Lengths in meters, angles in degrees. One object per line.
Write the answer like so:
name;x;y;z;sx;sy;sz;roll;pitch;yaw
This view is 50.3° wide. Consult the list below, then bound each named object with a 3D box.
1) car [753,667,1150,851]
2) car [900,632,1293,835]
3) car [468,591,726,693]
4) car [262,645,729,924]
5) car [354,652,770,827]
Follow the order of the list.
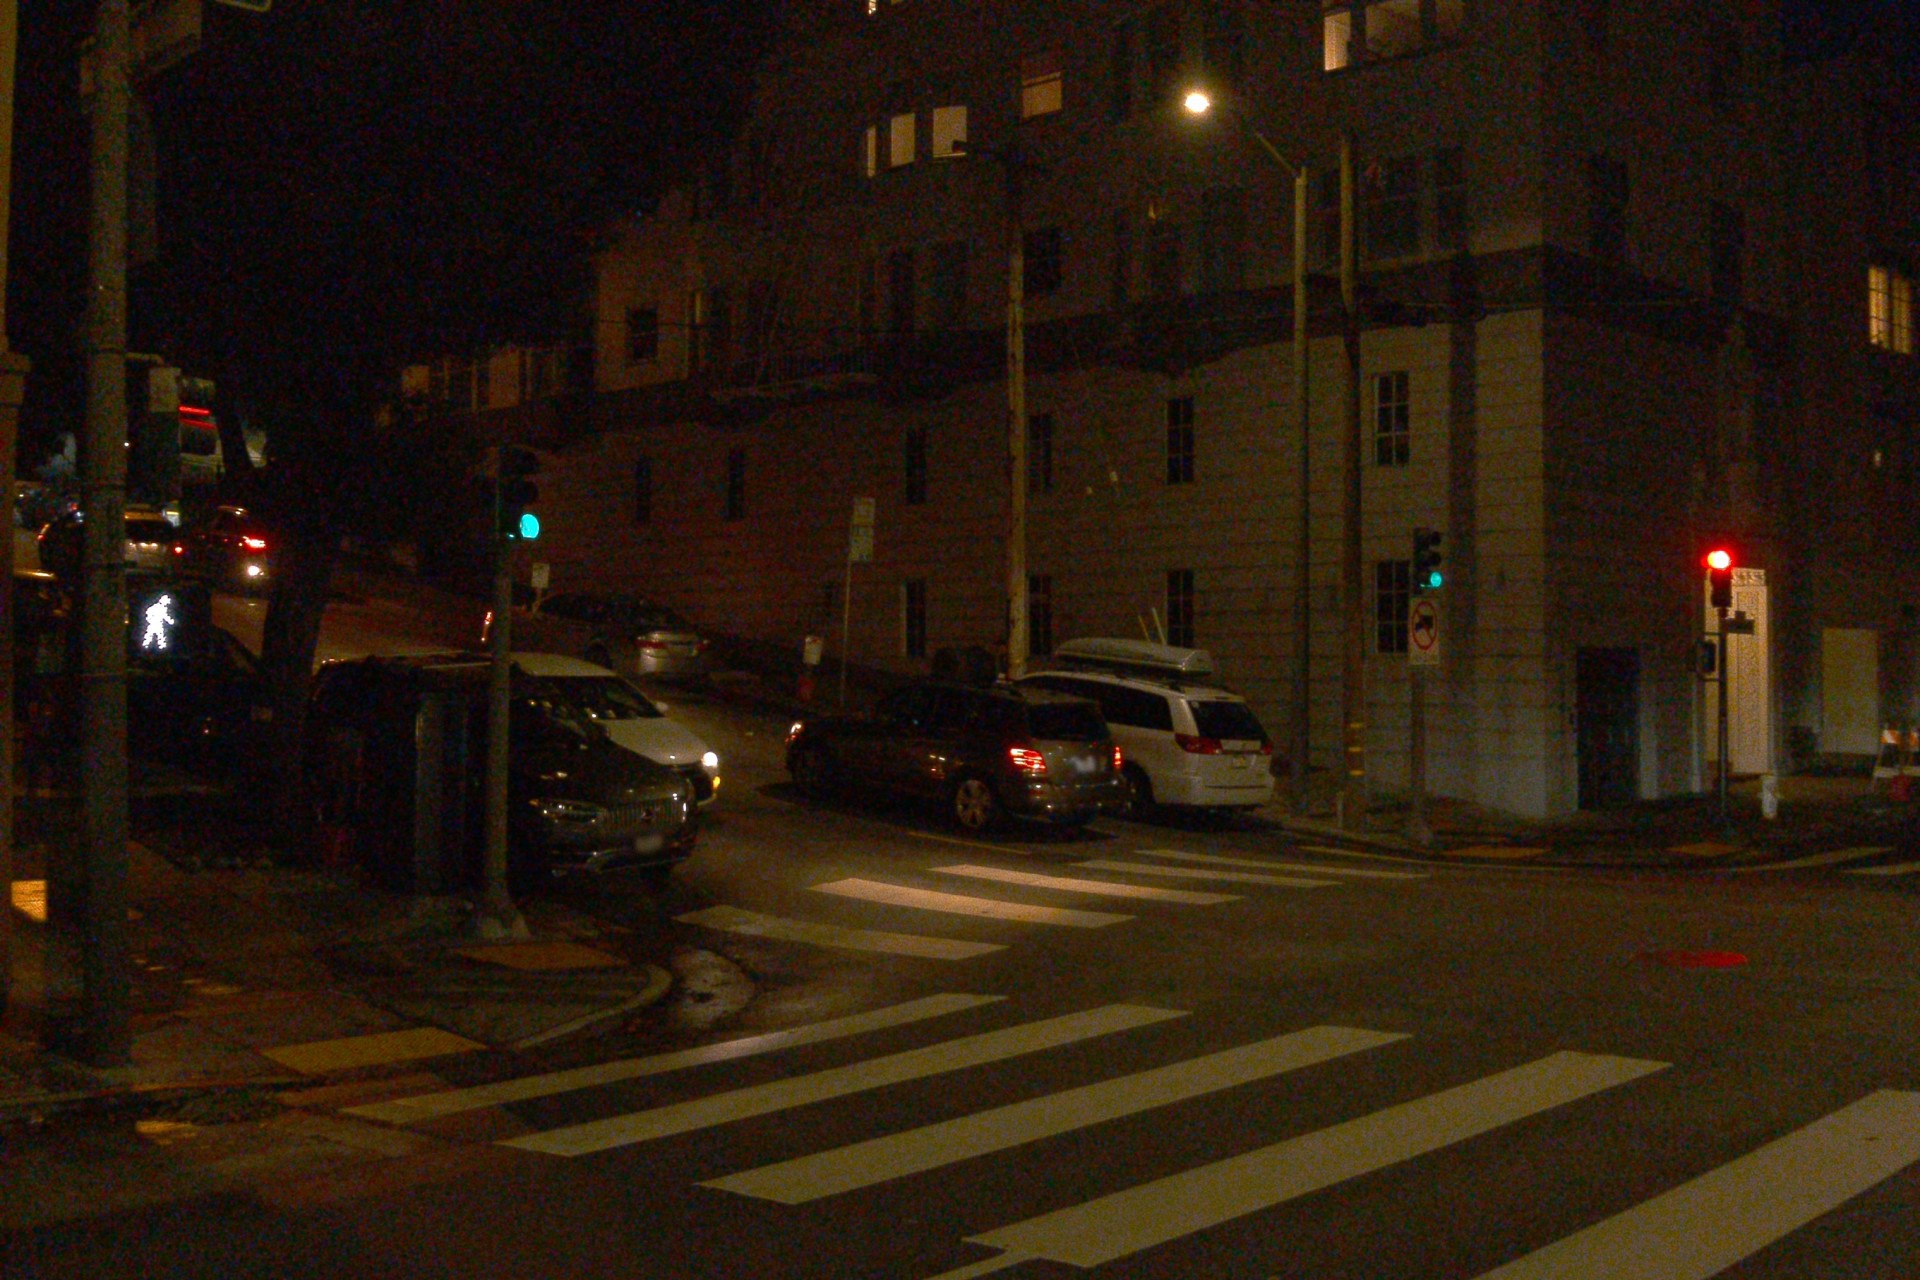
car;-0.181;1.322;24.490;4.561;1.883;2.058;1;1;43
car;1.721;1.125;27.124;4.904;2.388;2.213;1;1;44
car;-6.230;0.008;34.836;4.539;1.626;1.925;1;1;42
car;-4.601;1.234;19.795;2.195;2.290;4.784;0;1;-44
car;-4.740;1.066;24.003;4.872;1.748;2.180;1;1;40
